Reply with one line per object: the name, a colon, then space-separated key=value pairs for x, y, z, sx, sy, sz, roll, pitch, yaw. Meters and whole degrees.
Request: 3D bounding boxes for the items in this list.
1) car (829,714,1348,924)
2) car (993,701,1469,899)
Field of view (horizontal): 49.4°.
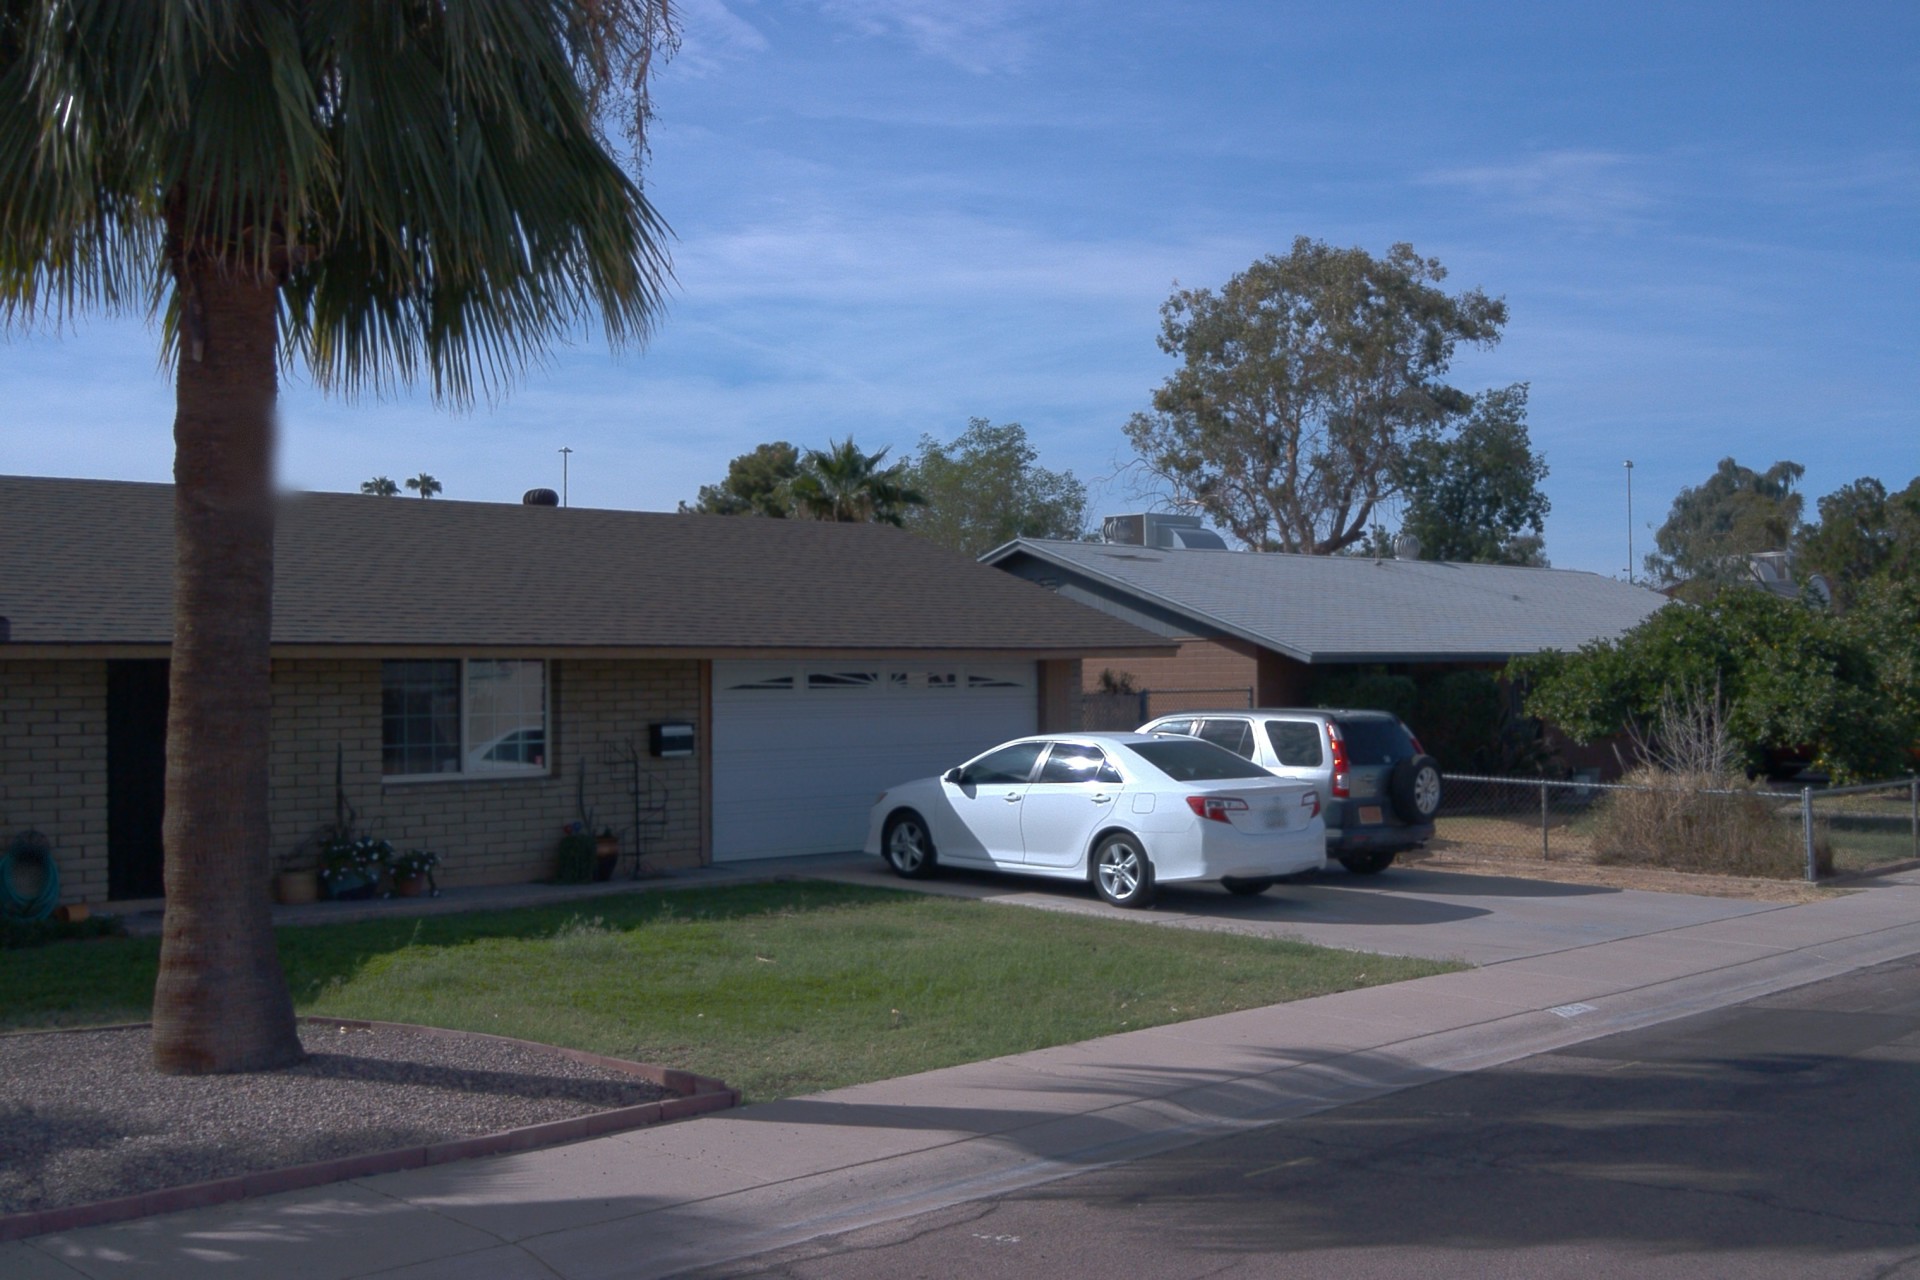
car: x=1.065 y=1.541 z=19.465 sx=2.112 sy=1.580 sz=4.722 roll=1 pitch=-1 yaw=-41
car: x=2.678 y=1.524 z=21.314 sx=4.415 sy=1.710 sz=2.130 roll=0 pitch=-1 yaw=44
